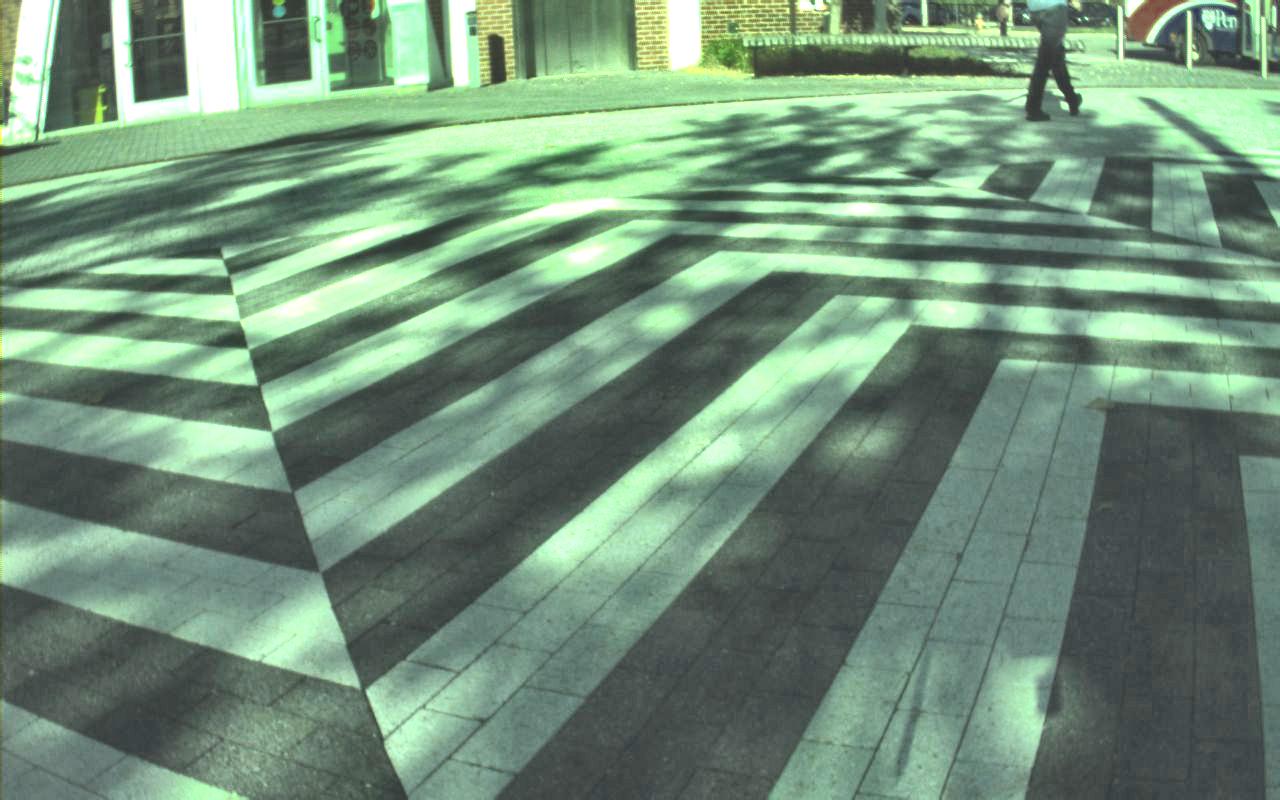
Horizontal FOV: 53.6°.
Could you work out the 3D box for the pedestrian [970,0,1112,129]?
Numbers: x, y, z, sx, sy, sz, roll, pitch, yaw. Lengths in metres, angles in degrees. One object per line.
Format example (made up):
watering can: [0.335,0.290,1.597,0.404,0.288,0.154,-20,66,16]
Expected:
pedestrian: [3.298,-2.891,9.632,0.934,1.313,0.809,-11,19,-32]

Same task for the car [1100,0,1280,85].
car: [11.111,-7.203,21.554,2.034,1.838,4.835,-6,17,-18]
